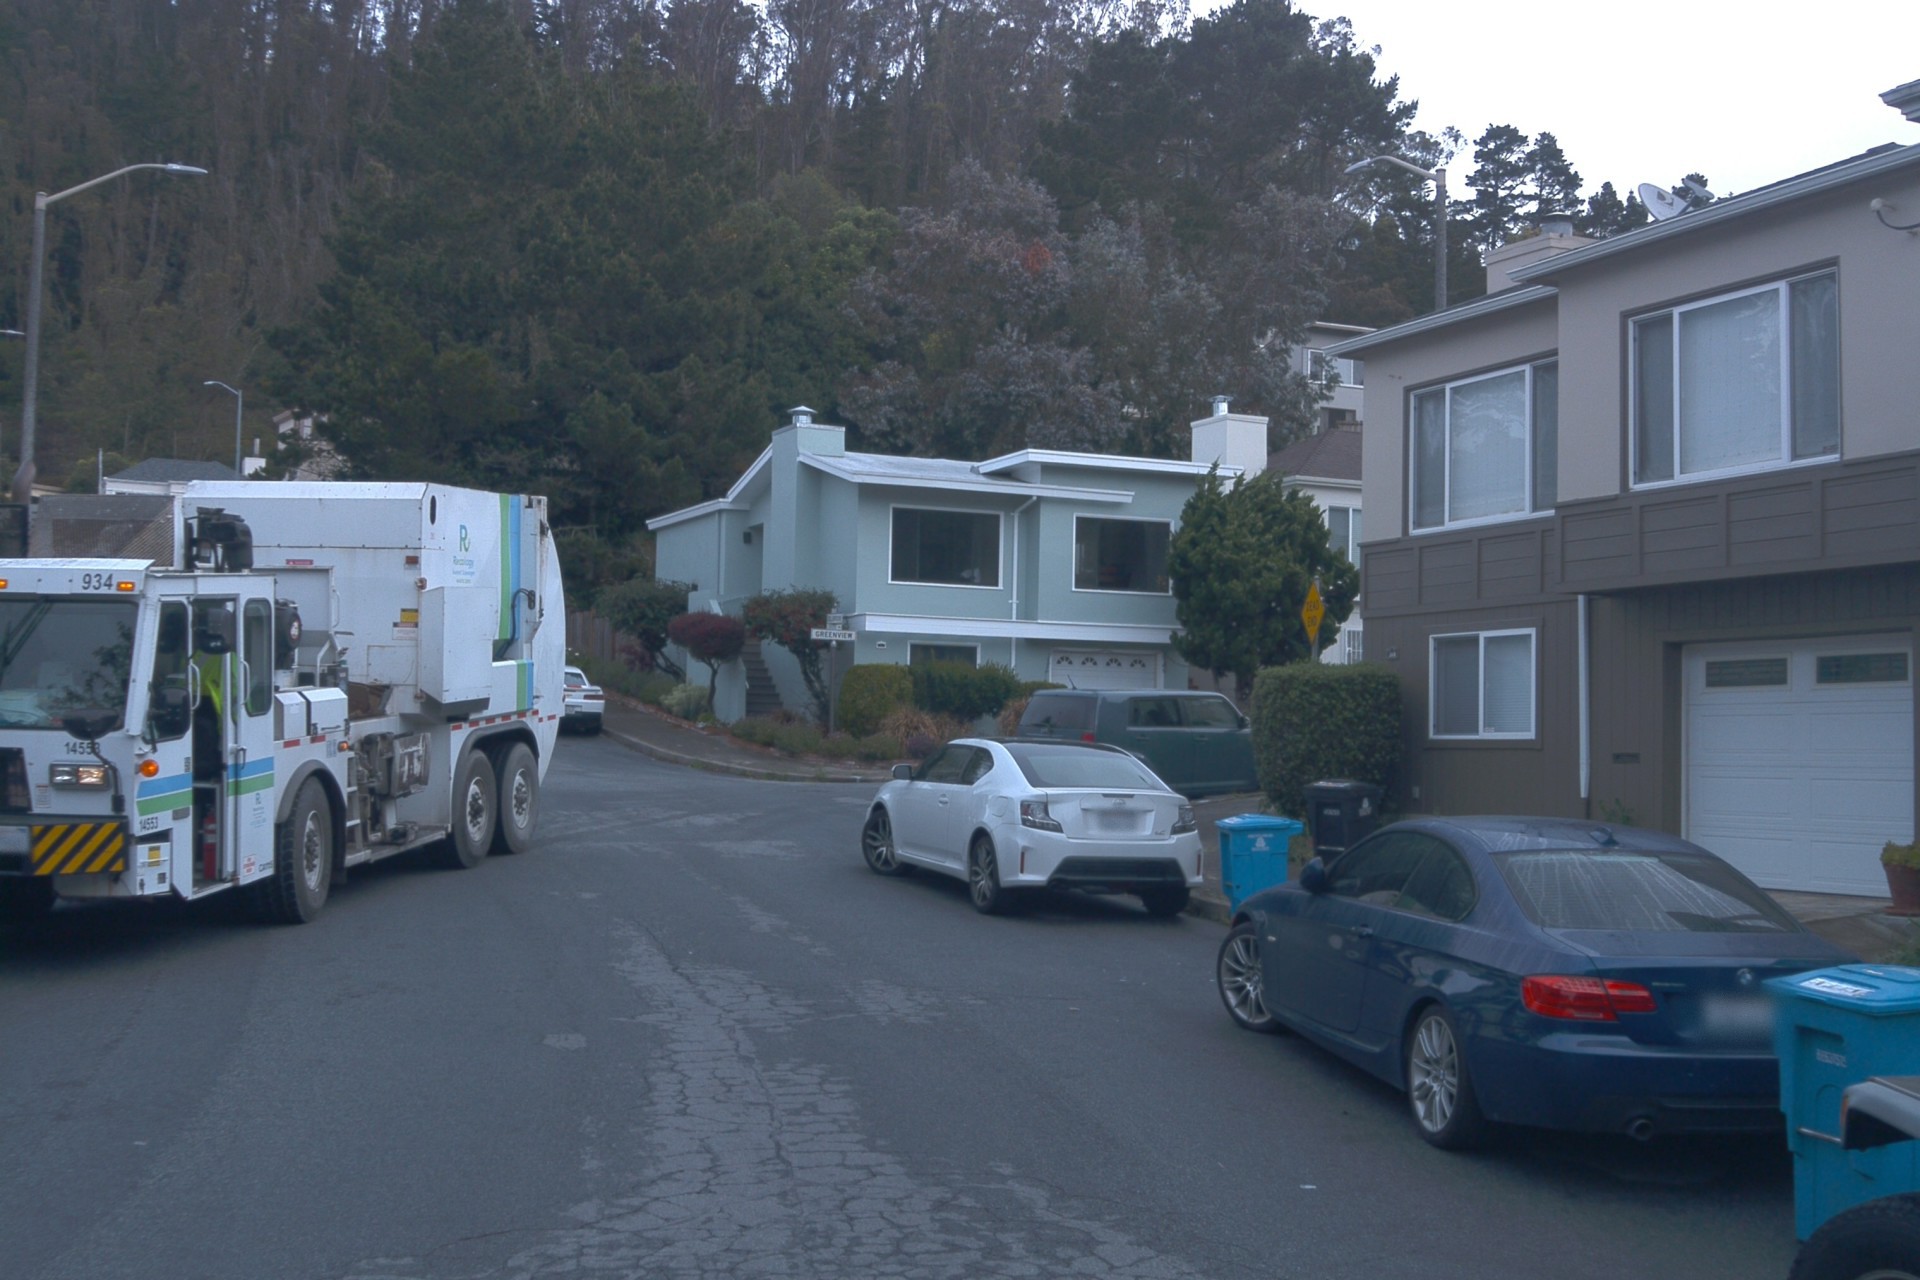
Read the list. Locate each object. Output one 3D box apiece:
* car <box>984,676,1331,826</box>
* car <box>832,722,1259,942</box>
[{"bbox_3d":[2.622,1.379,27.127,4.270,1.770,2.030,0,0,-37],"label":"car"},{"bbox_3d":[0.588,1.591,18.613,2.201,1.540,4.545,0,0,-21],"label":"car"}]
